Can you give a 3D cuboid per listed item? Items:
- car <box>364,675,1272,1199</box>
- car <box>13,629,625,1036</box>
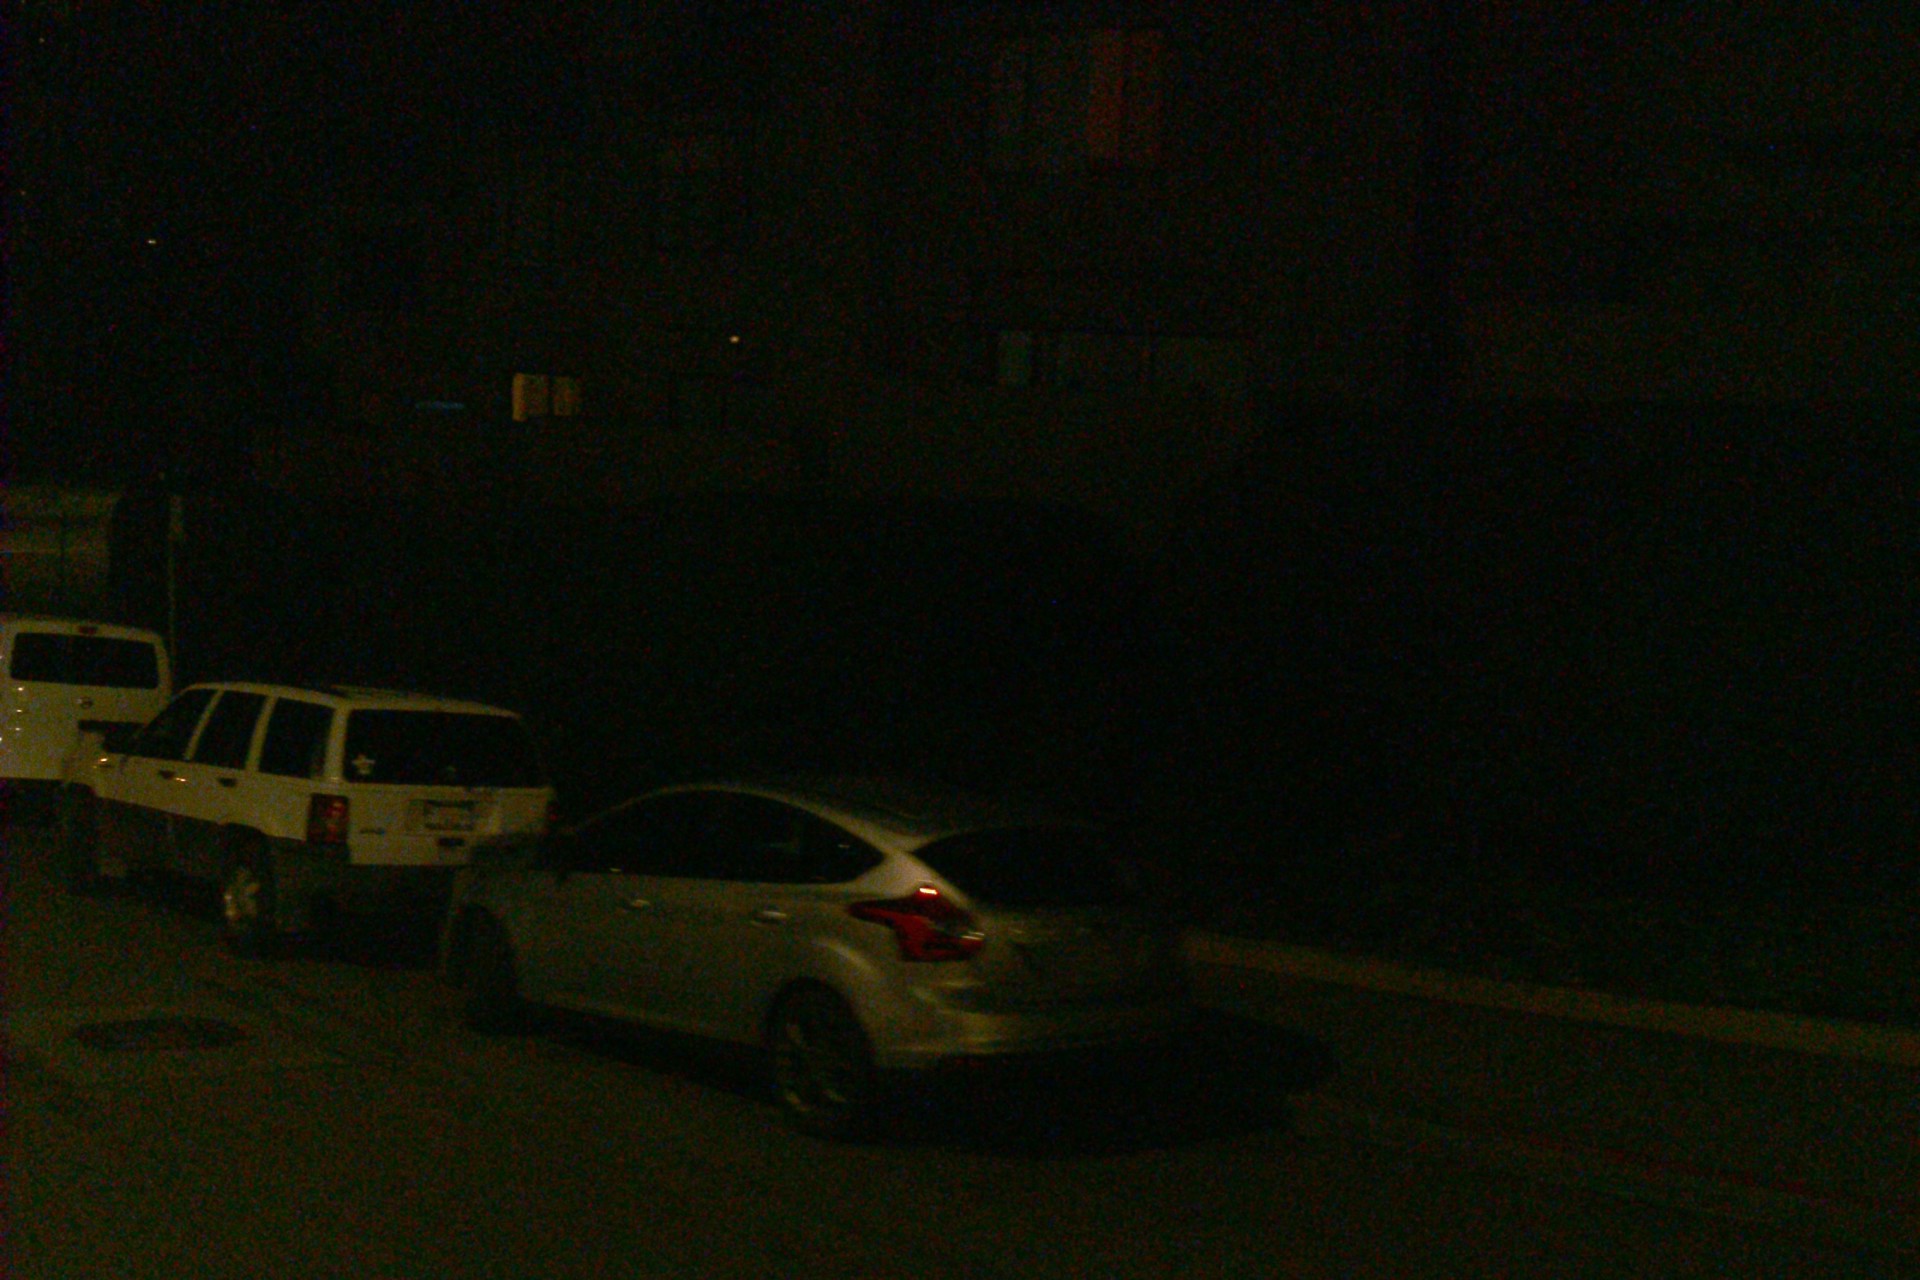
[{"bbox_3d":[-0.910,1.180,10.415,2.076,1.940,4.538,1,0,-43],"label":"car"},{"bbox_3d":[-4.495,1.084,14.222,2.236,2.280,4.608,1,0,-42],"label":"car"}]
